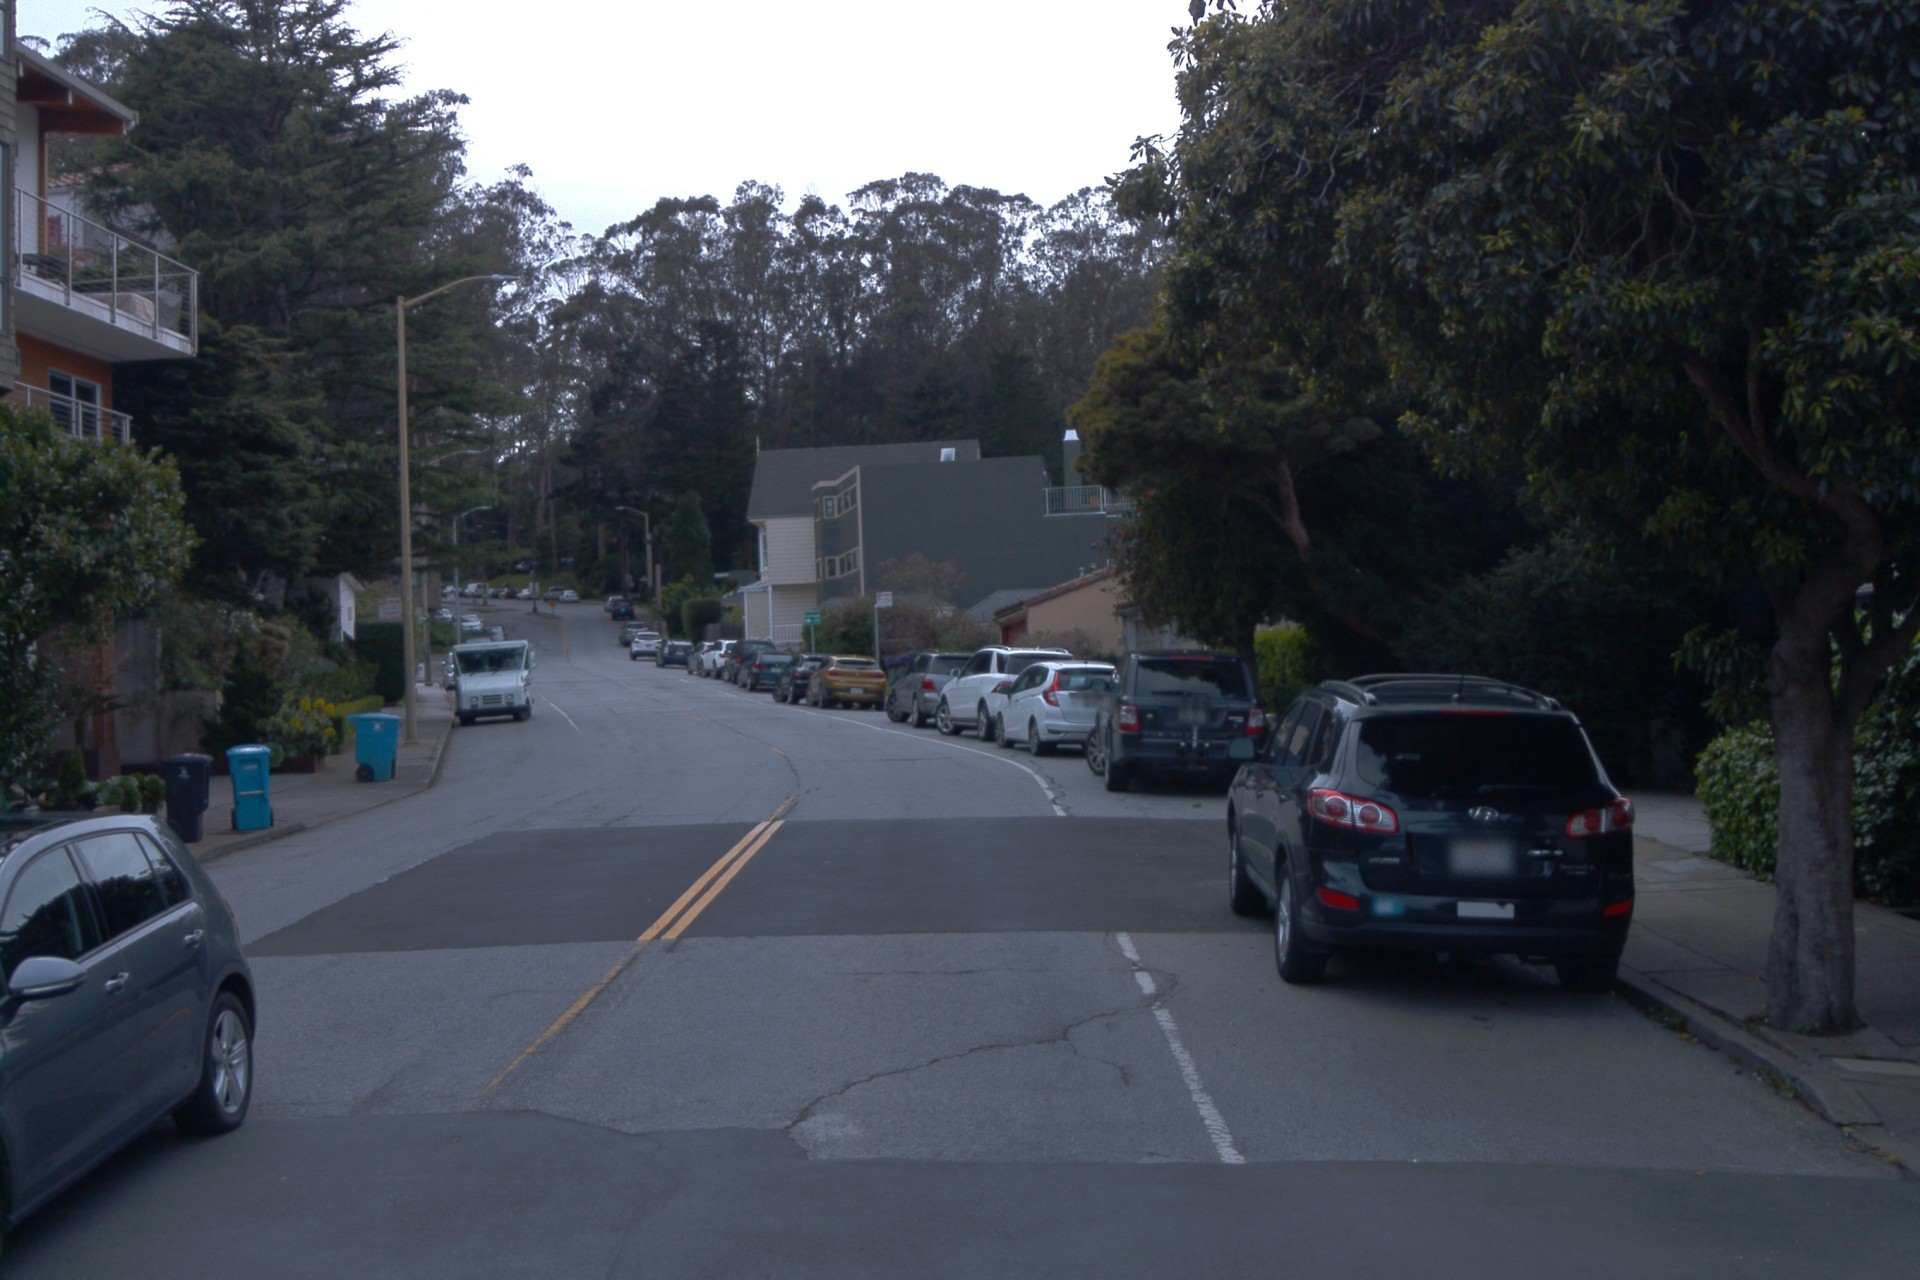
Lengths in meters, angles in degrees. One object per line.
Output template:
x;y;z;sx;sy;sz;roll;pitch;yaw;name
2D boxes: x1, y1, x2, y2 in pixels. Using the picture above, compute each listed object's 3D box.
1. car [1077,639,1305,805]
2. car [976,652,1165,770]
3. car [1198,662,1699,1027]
2.833;0.954;26.440;2.330;1.870;5.067;0;1;0;car
1.735;1.098;33.836;2.027;1.720;4.270;0;1;-13;car
2.863;1.110;13.293;2.249;1.820;4.743;0;1;2;car
